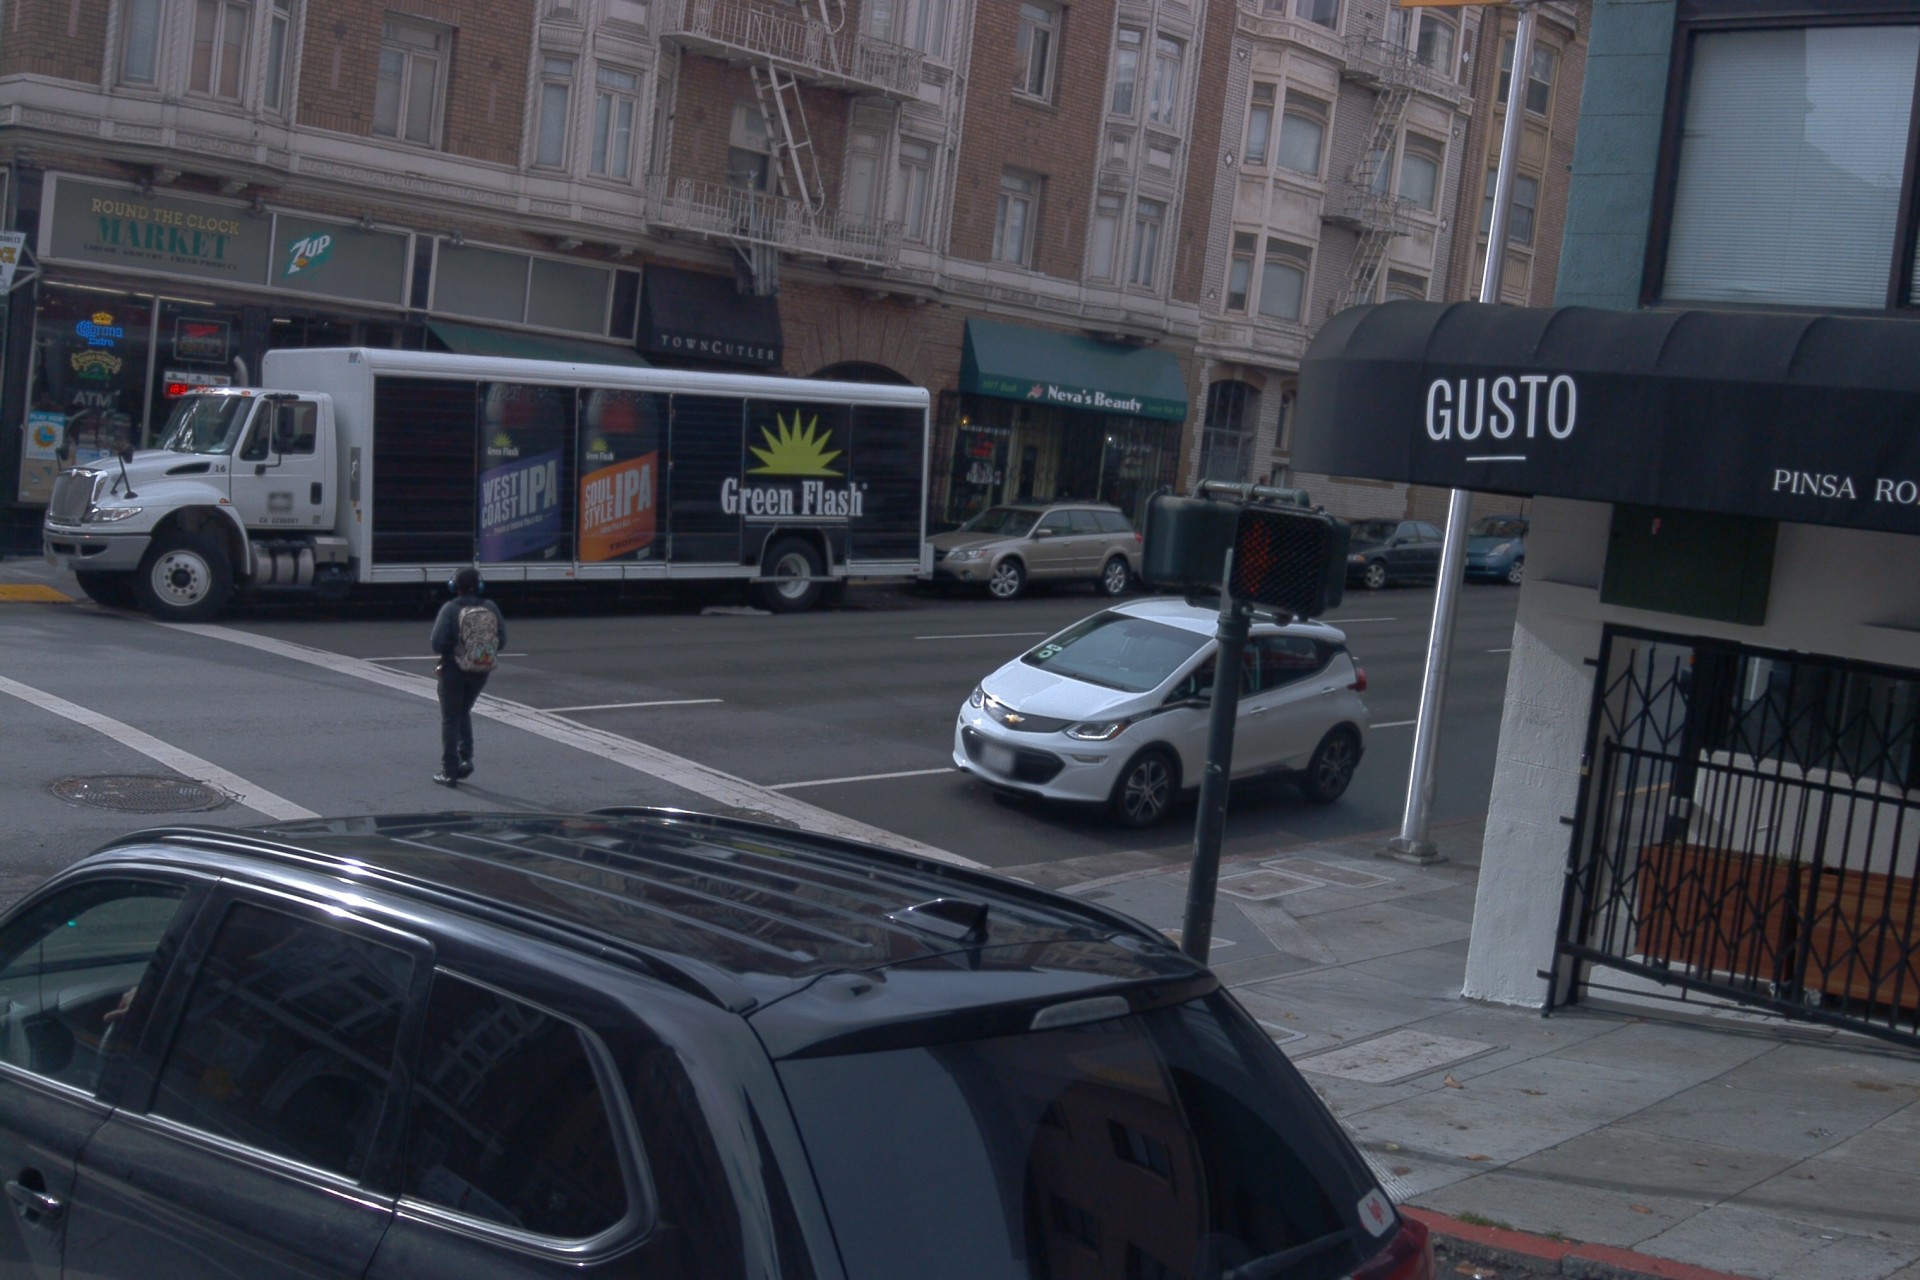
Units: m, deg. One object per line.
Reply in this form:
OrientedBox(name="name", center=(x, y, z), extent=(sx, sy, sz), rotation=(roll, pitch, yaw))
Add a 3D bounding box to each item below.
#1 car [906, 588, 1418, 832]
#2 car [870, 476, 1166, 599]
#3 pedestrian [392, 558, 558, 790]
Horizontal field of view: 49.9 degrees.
OrientedBox(name="car", center=(1.804, 0.505, 17.334), extent=(2.062, 1.780, 4.279), rotation=(2, 1, 43))
OrientedBox(name="car", center=(1.019, -1.603, 33.631), extent=(2.182, 1.770, 4.833), rotation=(2, 1, 42))
OrientedBox(name="pedestrian", center=(-3.461, 0.228, 14.720), extent=(0.929, 1.590, 0.750), rotation=(2, 1, 44))
